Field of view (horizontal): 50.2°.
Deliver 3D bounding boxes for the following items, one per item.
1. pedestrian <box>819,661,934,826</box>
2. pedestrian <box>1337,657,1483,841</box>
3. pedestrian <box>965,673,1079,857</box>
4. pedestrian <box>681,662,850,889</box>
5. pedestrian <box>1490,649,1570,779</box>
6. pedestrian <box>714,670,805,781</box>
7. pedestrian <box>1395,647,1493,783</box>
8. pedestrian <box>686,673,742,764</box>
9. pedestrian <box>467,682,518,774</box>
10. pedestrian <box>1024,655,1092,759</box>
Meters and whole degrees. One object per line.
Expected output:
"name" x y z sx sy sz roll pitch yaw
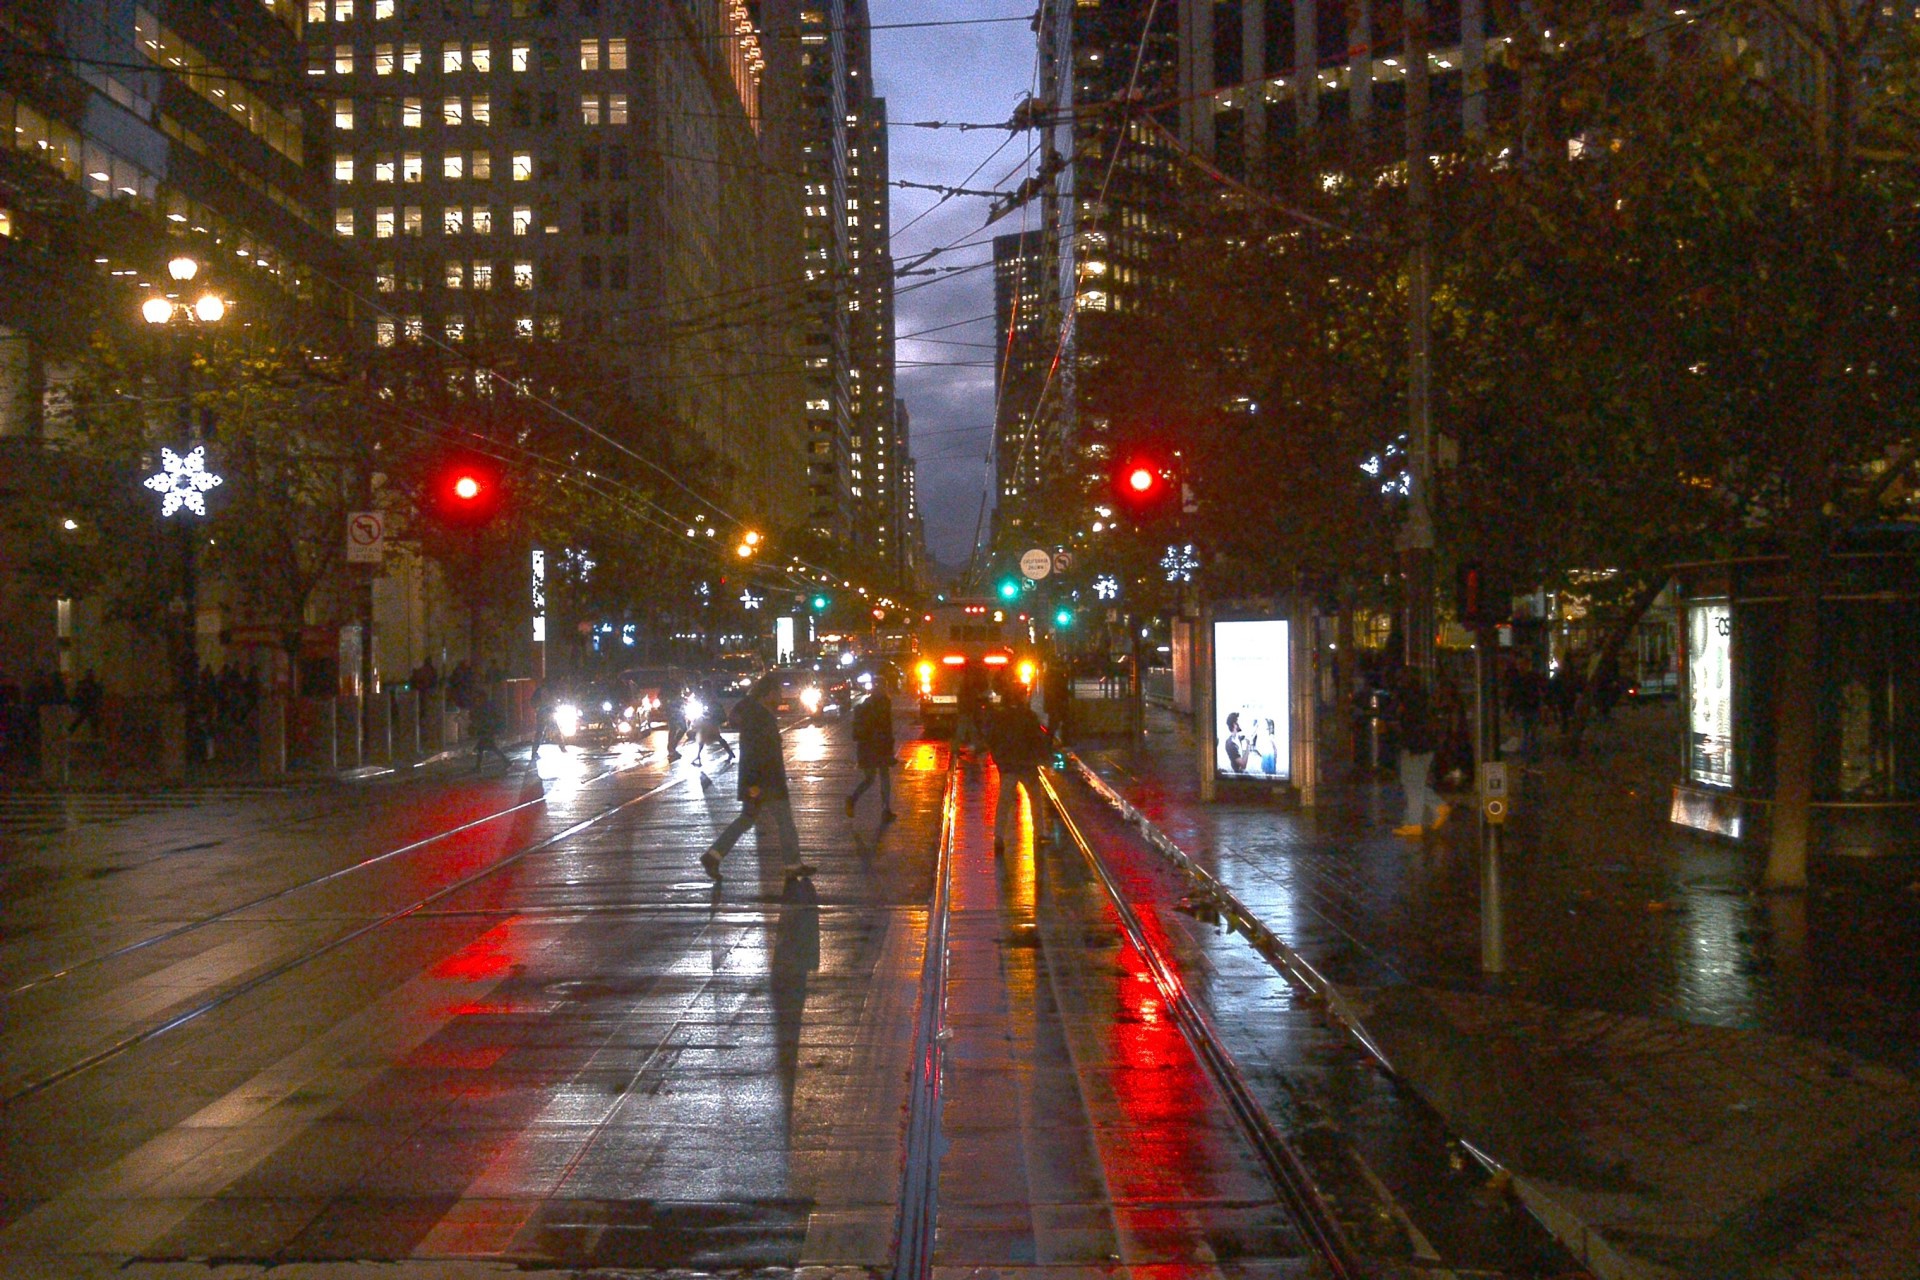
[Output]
"pedestrian" -0.985 1.200 24.340 0.781 1.890 1.219 0 0 34
"pedestrian" 4.527 1.062 20.596 1.177 1.780 0.852 0 0 39
"pedestrian" 0.651 1.267 21.262 0.809 1.830 1.106 0 0 25
"pedestrian" -1.742 1.168 18.293 1.203 1.940 0.925 0 0 -32
"pedestrian" 8.088 1.030 29.108 0.867 1.800 1.153 0 0 4
"pedestrian" -3.180 1.338 32.476 1.006 1.710 1.062 0 0 -38
"pedestrian" 6.753 1.030 28.580 0.970 1.850 0.908 0 0 -30
"pedestrian" -4.511 1.432 37.565 1.001 1.630 0.740 0 0 -5
"pedestrian" -8.452 1.586 37.027 0.877 1.630 0.701 0 0 -12
"pedestrian" 1.778 1.201 37.196 1.020 1.860 0.869 0 0 -15
